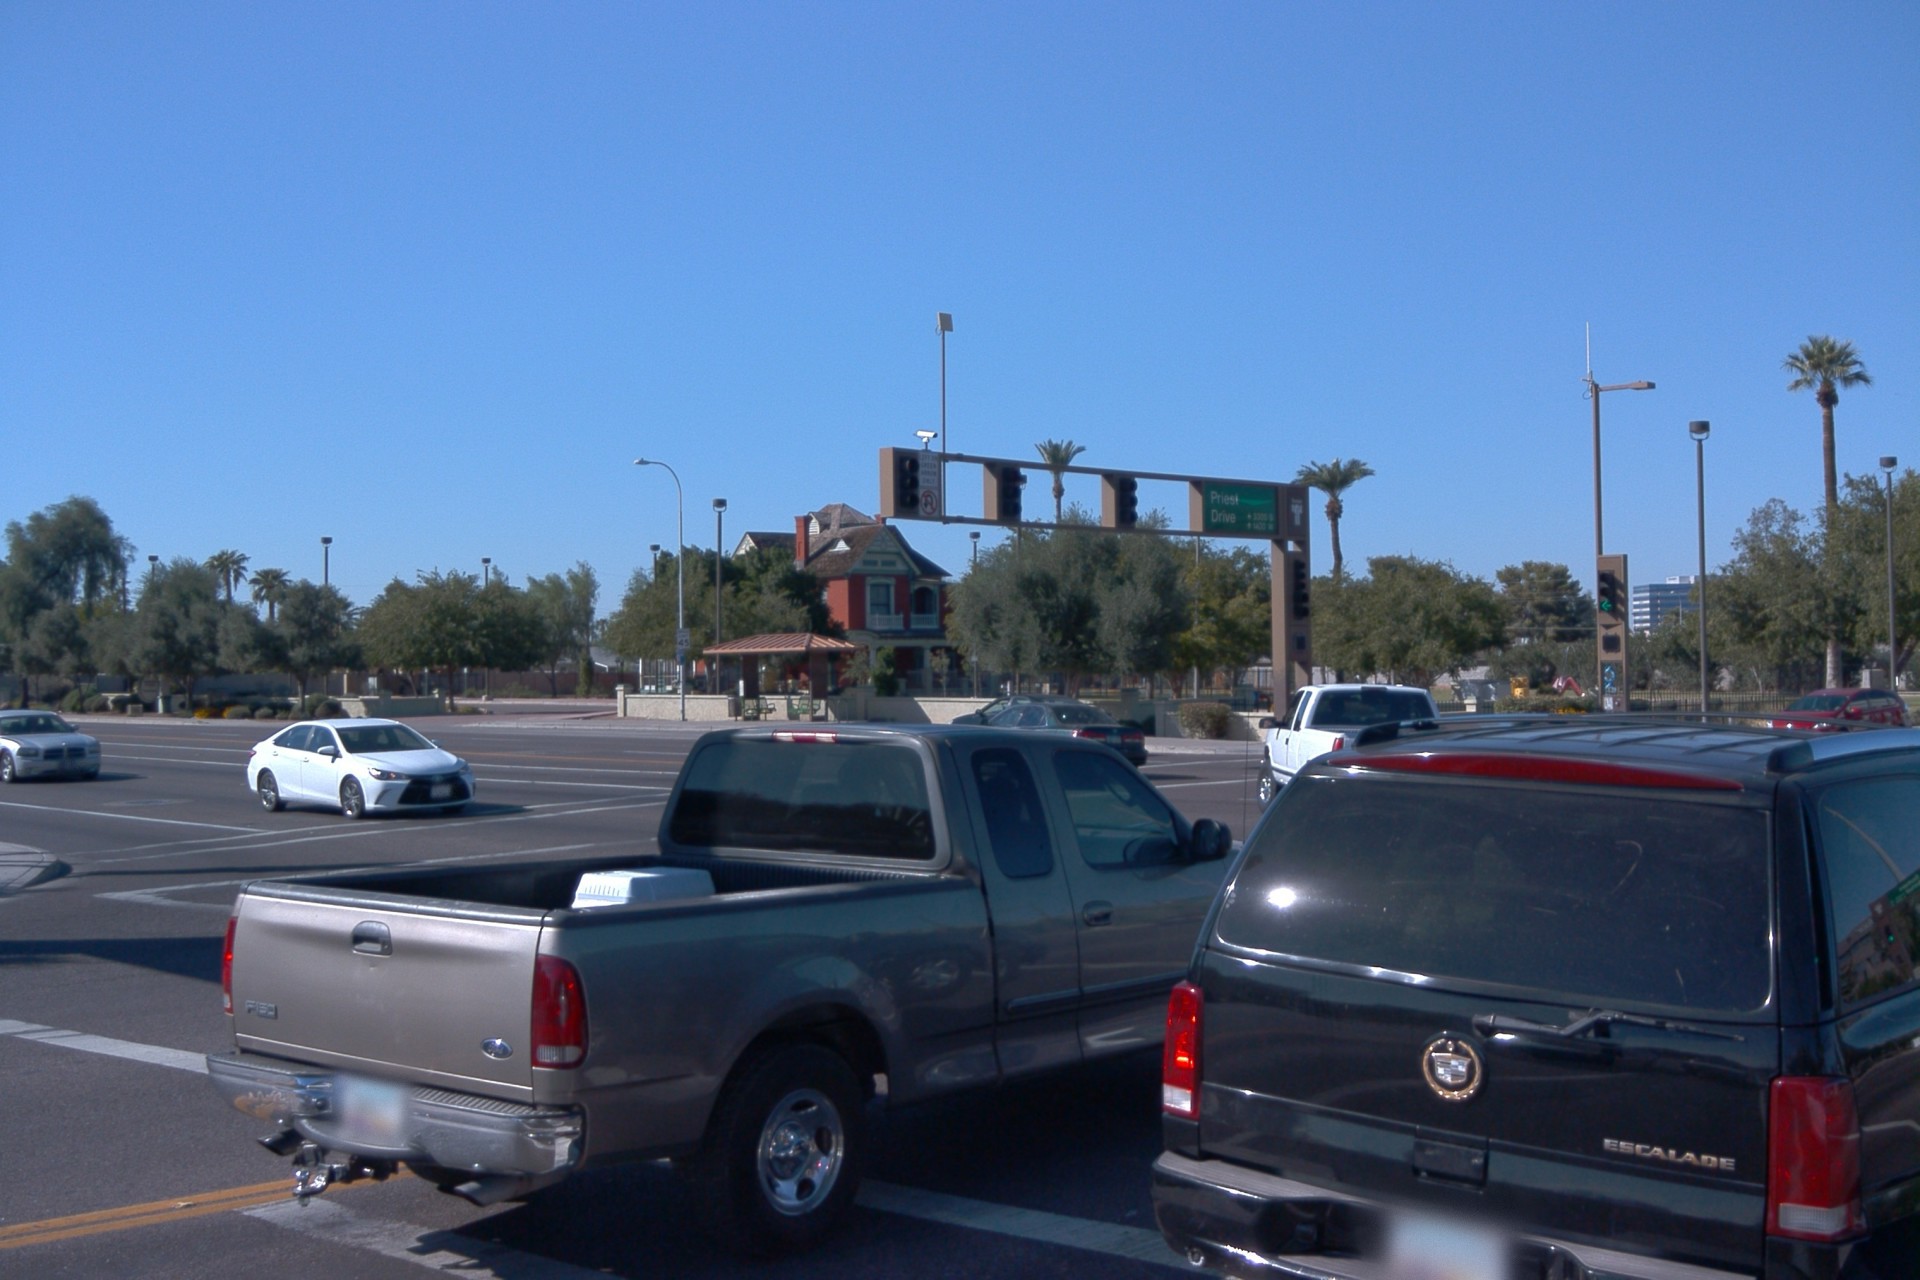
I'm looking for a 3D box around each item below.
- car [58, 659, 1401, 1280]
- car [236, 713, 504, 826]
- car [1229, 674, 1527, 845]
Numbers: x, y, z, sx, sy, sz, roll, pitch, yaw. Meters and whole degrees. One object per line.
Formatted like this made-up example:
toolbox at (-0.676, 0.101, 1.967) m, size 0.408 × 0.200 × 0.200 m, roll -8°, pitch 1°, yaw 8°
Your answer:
car at (-0.478, 1.140, 8.929) m, size 2.262 × 2.080 × 5.846 m, roll 0°, pitch 0°, yaw 38°
car at (-9.426, 1.986, 32.987) m, size 2.126 × 1.500 × 4.748 m, roll 0°, pitch 0°, yaw -44°
car at (5.286, 1.445, 27.390) m, size 2.495 × 1.900 × 6.189 m, roll 0°, pitch 0°, yaw -2°
